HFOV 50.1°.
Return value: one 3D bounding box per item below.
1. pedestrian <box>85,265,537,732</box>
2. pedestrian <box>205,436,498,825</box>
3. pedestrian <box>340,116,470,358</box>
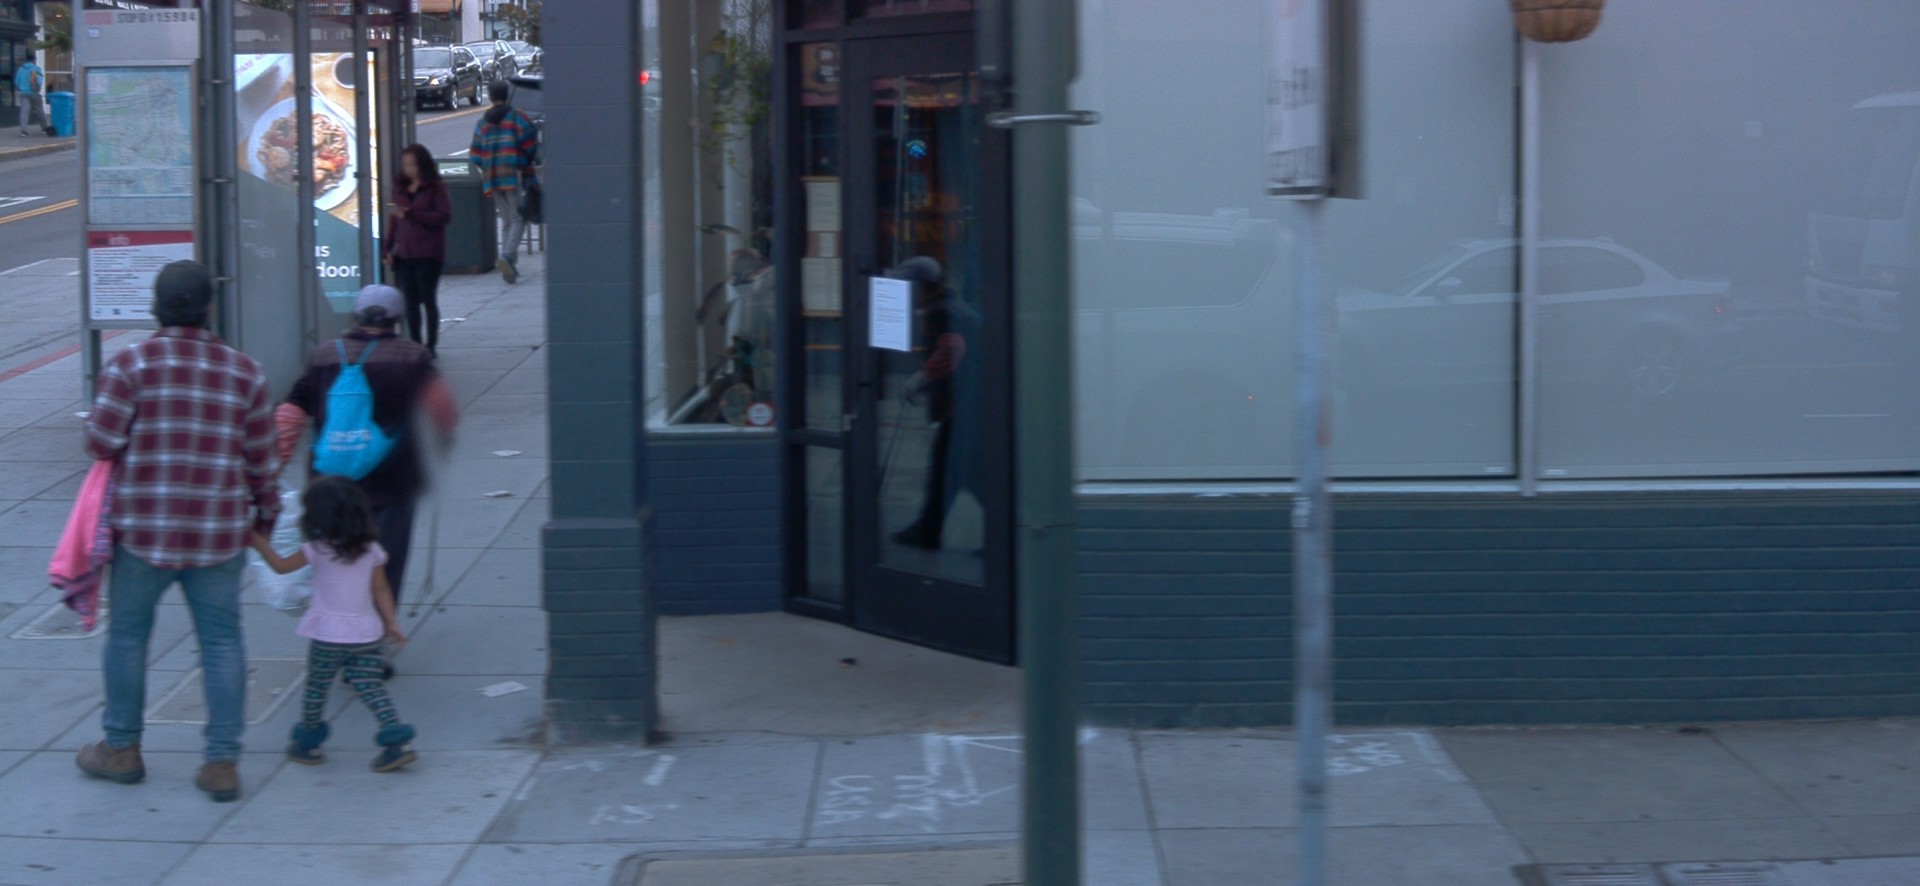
[{"bbox_3d":[-2.445,0.135,7.984,1.349,1.627,1.400,0,3,-2],"label":"pedestrian"},{"bbox_3d":[-2.032,0.582,6.866,0.693,1.119,0.663,2,3,39],"label":"pedestrian"},{"bbox_3d":[-3.925,-1.456,14.522,0.627,1.658,0.646,1,2,42],"label":"pedestrian"}]
